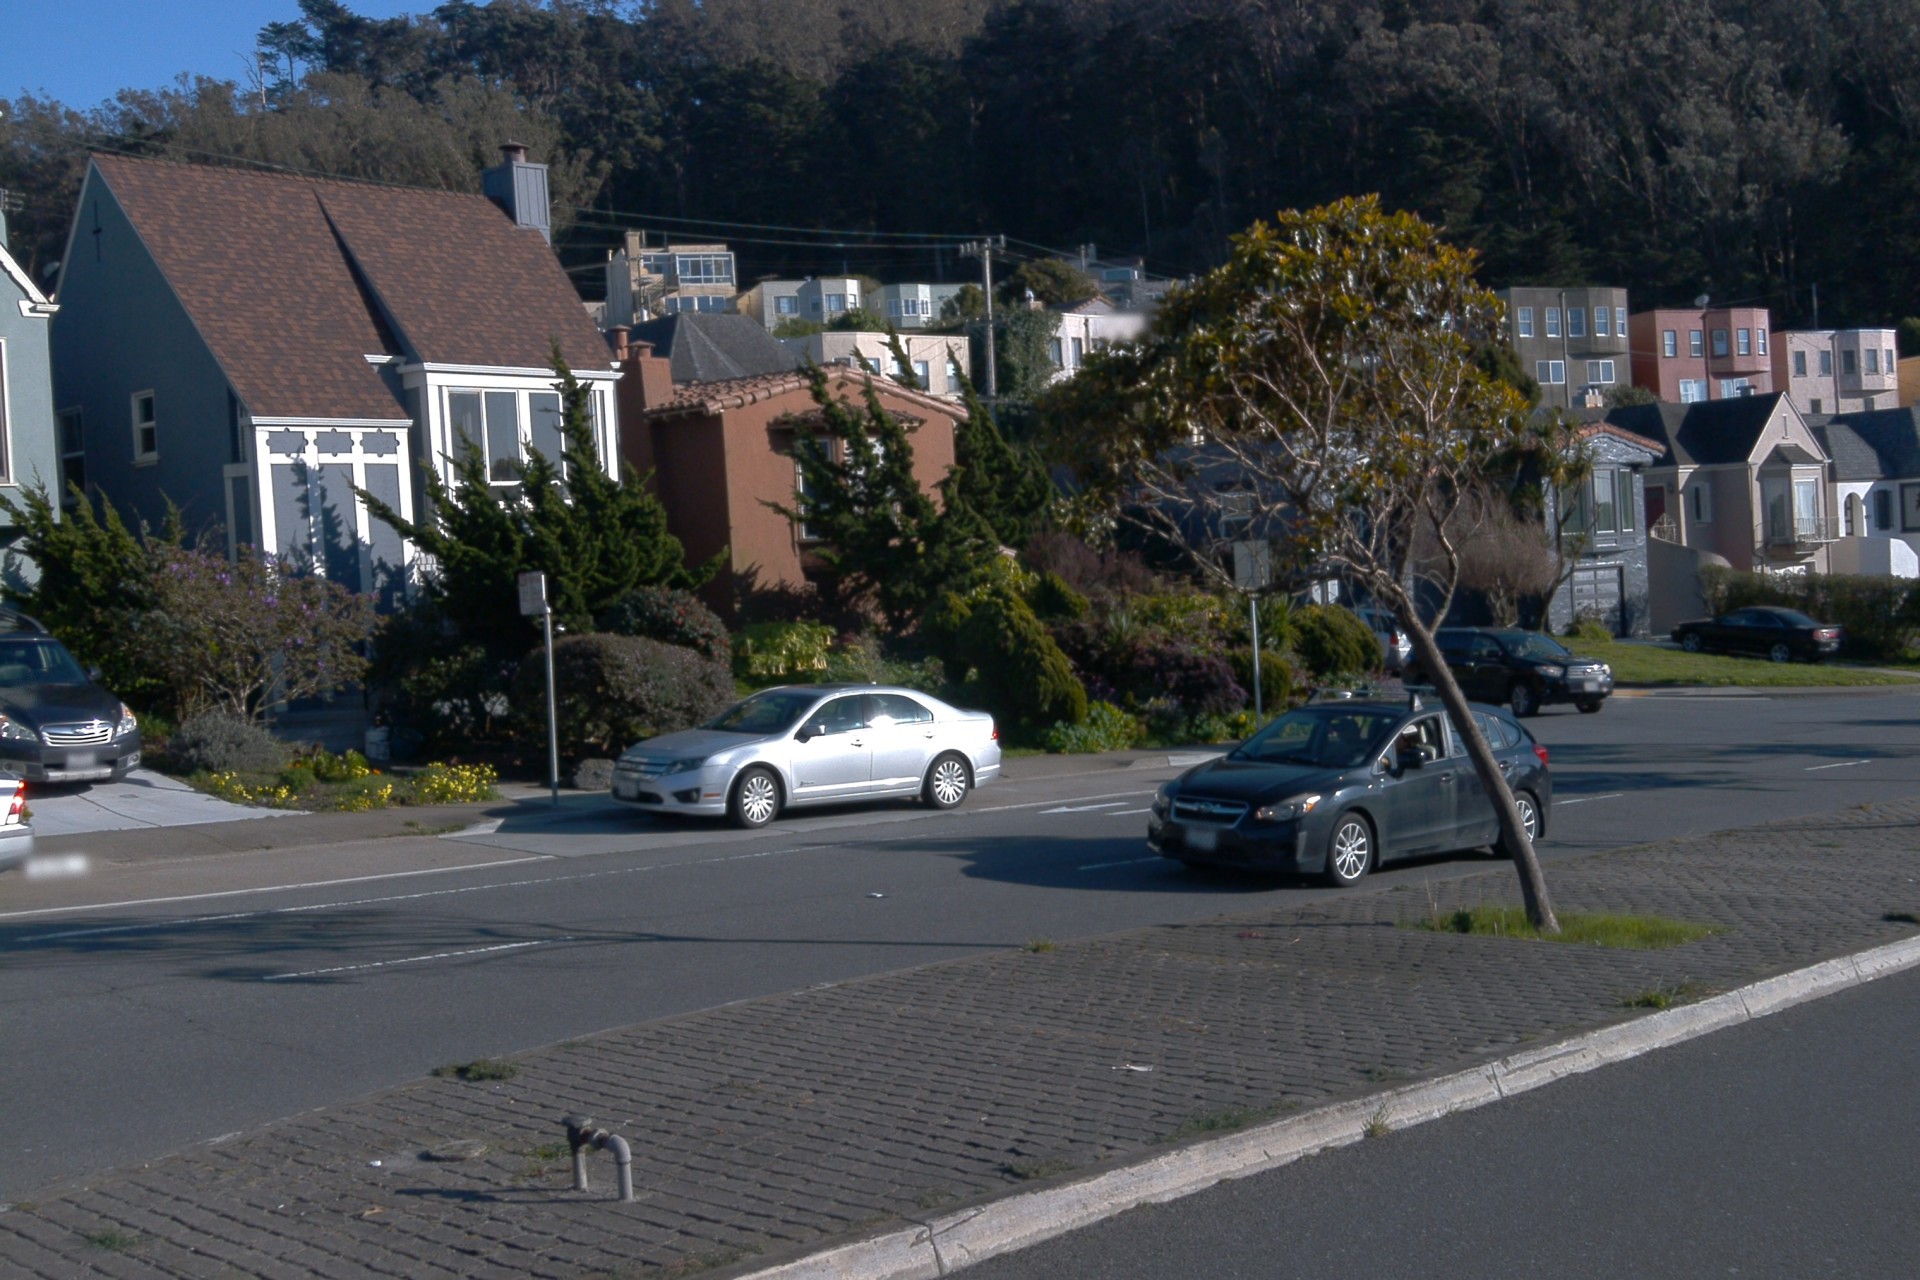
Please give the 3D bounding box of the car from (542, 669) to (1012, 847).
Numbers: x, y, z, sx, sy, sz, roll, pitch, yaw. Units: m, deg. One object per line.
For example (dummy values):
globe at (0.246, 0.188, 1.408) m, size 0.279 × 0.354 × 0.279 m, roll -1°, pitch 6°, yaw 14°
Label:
car at (-1.907, 1.193, 22.774) m, size 4.885 × 1.640 × 2.093 m, roll -1°, pitch 0°, yaw -43°

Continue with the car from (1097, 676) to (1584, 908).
car at (3.414, 1.201, 18.087) m, size 4.371 × 1.660 × 2.004 m, roll -1°, pitch 0°, yaw -44°
